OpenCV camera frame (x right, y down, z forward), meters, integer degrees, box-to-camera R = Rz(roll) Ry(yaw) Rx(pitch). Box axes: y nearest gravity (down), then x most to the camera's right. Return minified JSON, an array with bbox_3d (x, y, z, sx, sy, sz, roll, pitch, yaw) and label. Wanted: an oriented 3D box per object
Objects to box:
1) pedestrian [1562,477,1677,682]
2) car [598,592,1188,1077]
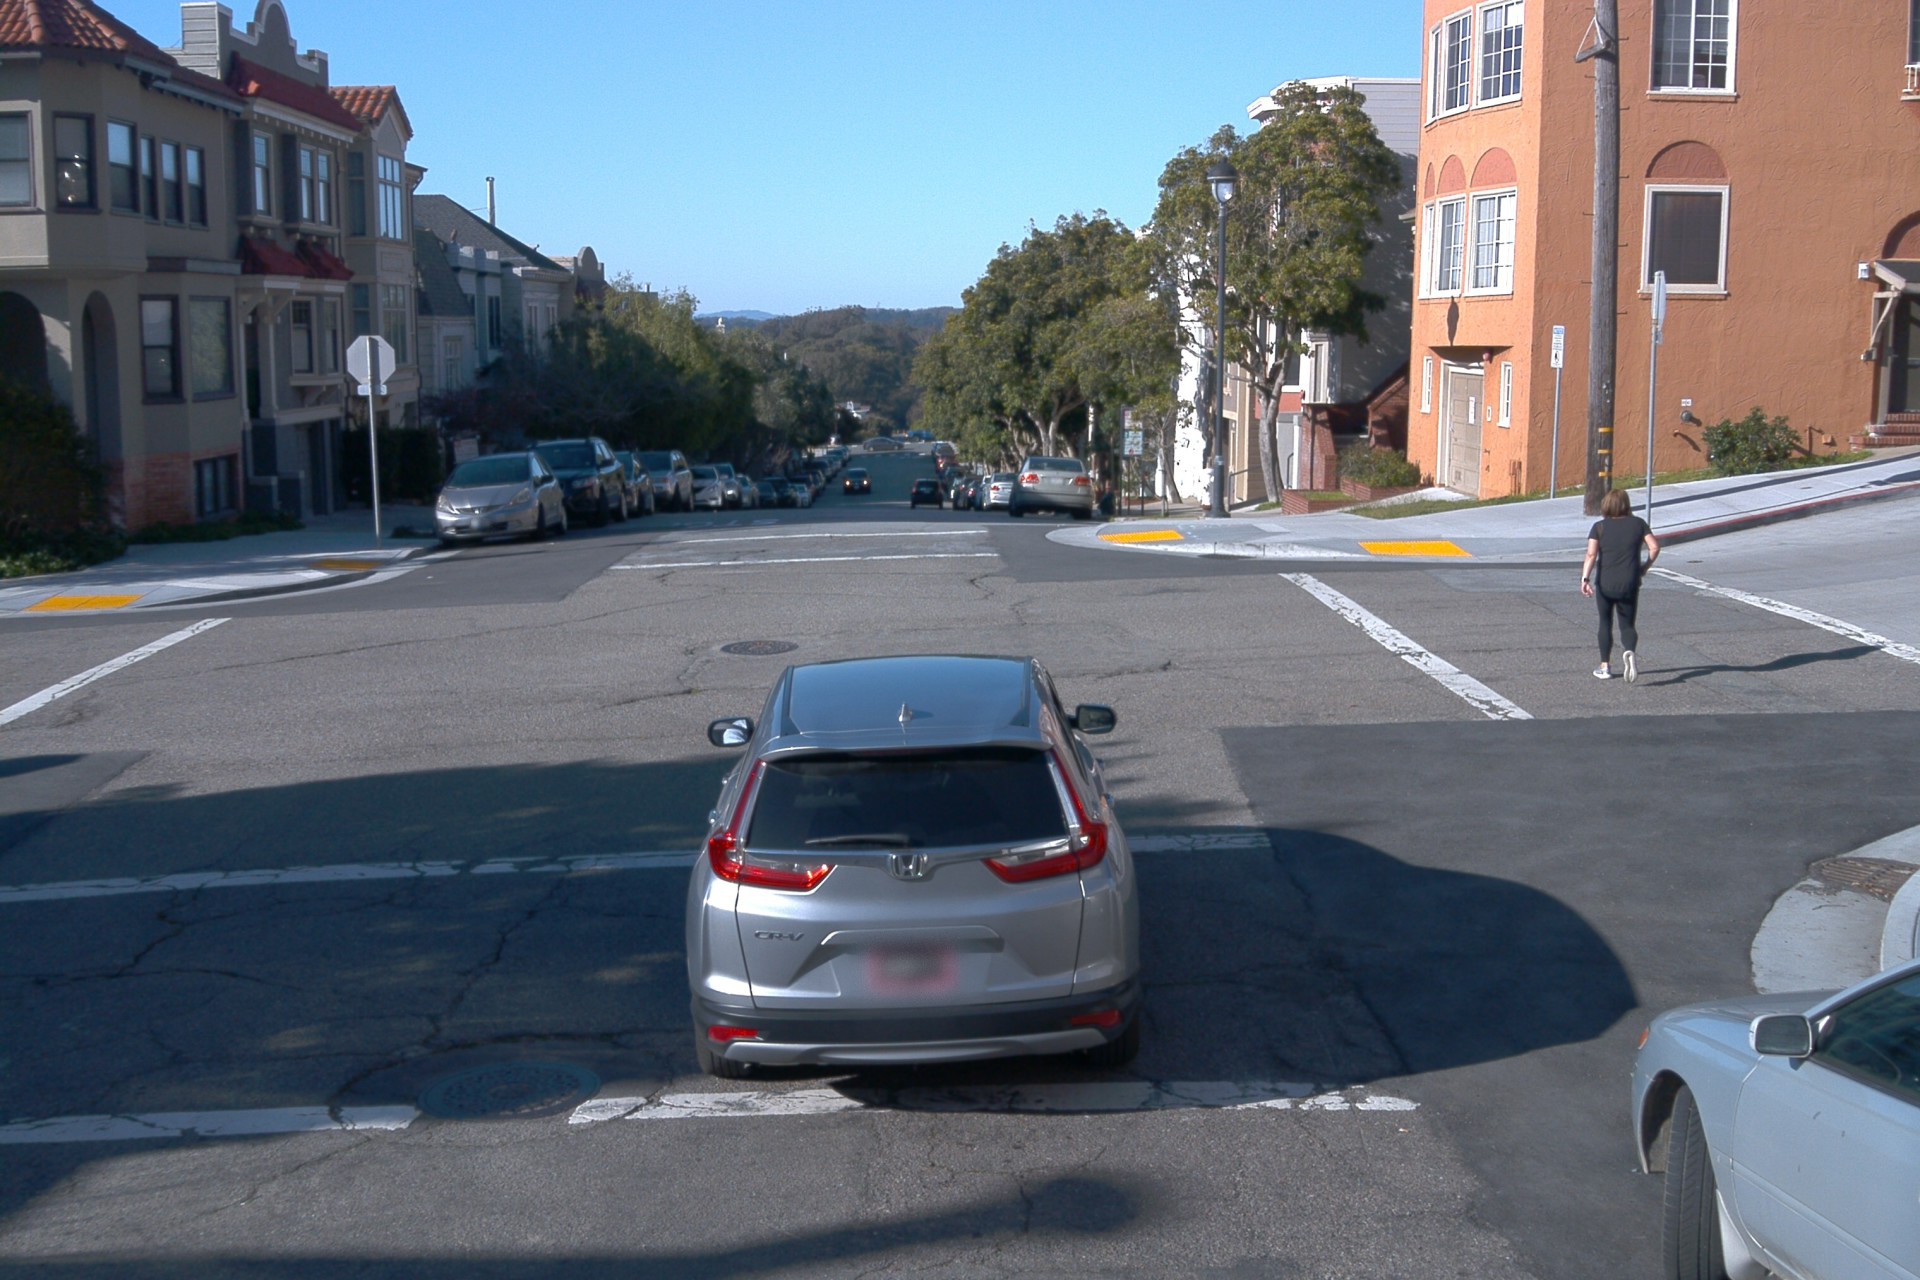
[{"bbox_3d":[5.381,-0.475,16.952,0.730,1.620,1.129,0,0,9],"label":"pedestrian"},{"bbox_3d":[-0.286,0.735,10.044,2.191,1.800,4.695,0,0,-1],"label":"car"}]
